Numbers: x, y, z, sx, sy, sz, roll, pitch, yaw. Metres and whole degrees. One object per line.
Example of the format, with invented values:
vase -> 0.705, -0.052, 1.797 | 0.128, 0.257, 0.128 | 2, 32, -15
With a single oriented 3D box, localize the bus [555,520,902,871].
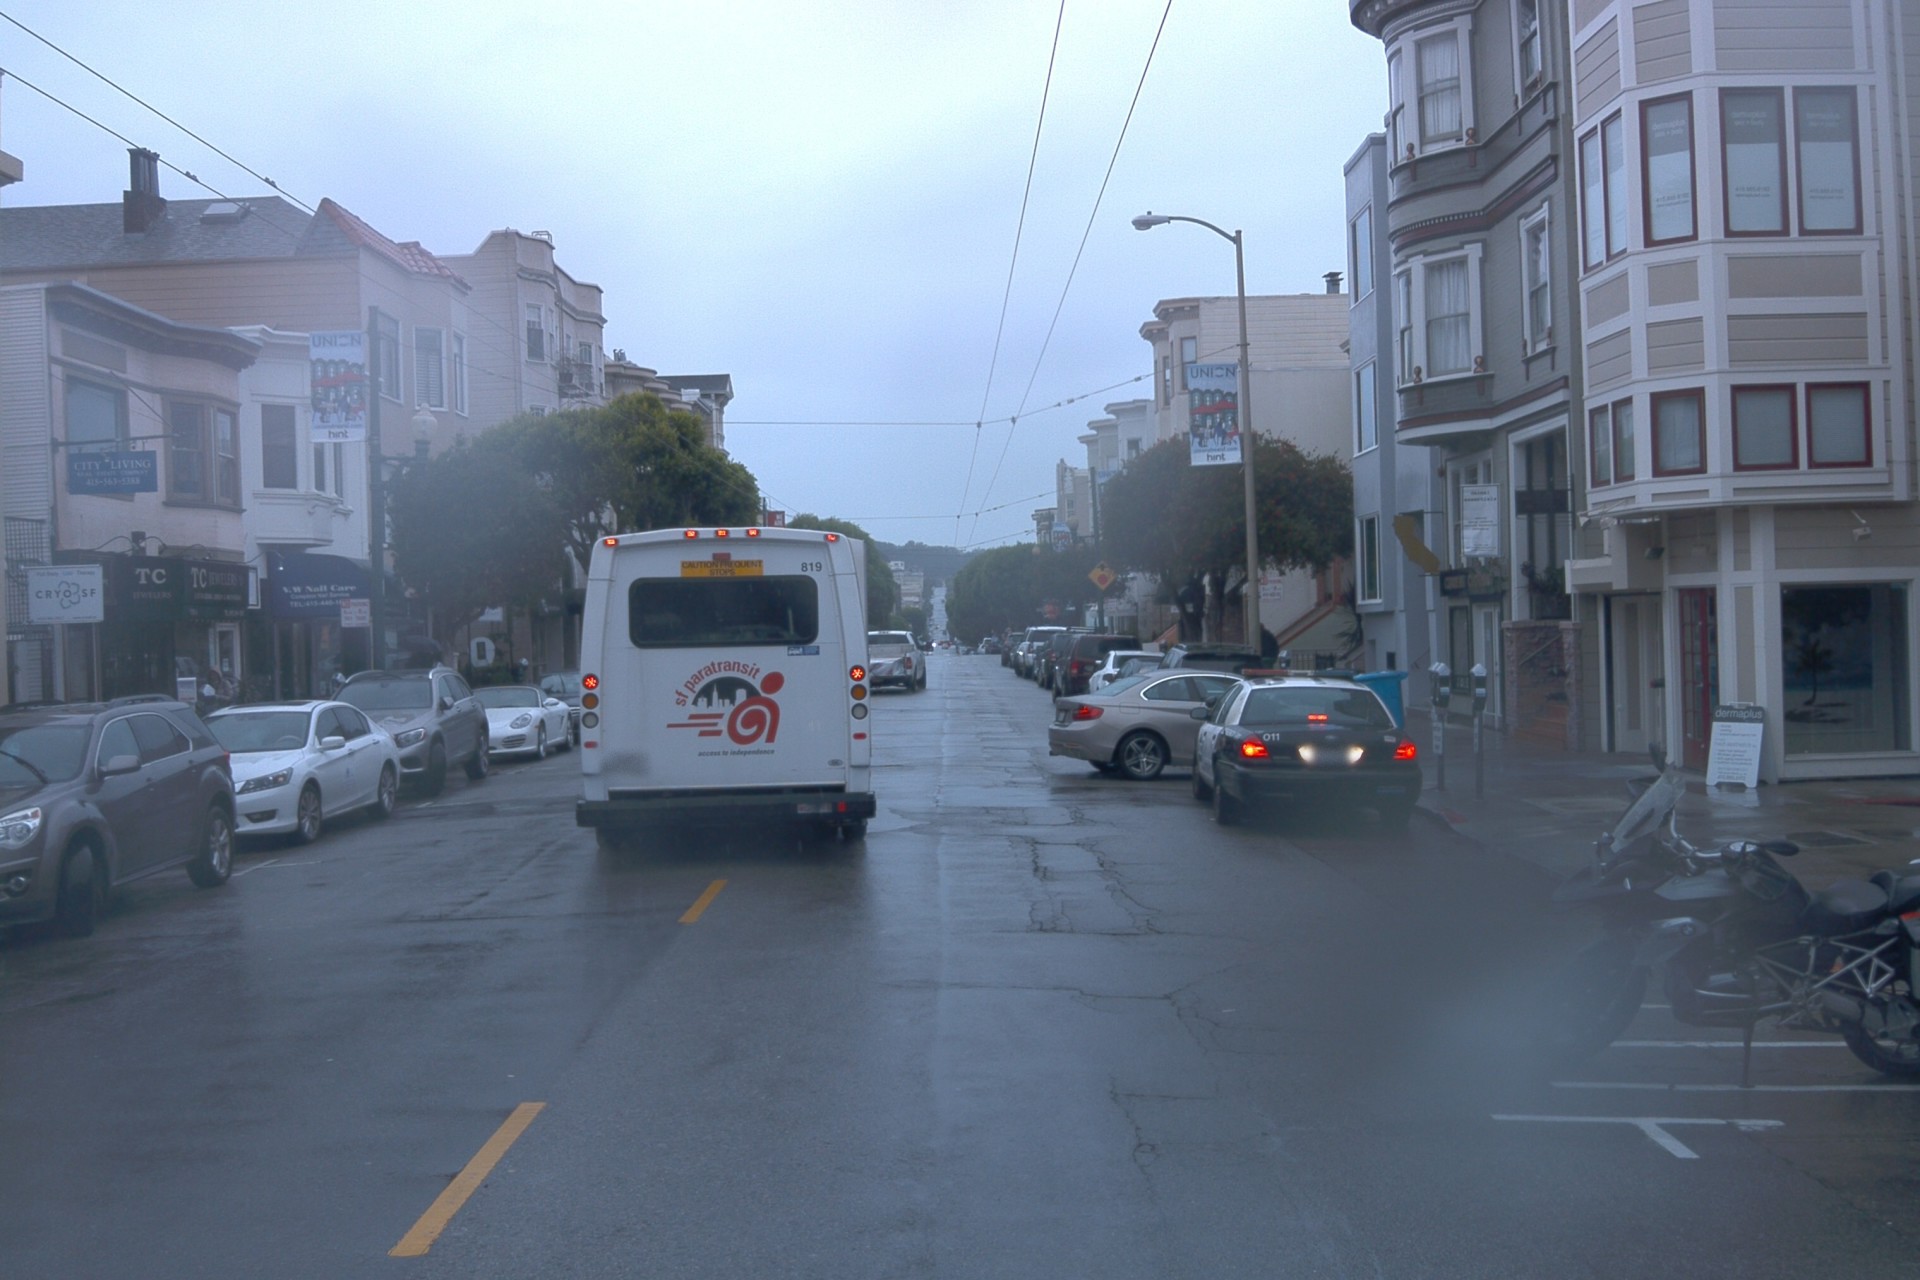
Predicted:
bus -> -2.201, 0.424, 20.156 | 2.786, 2.850, 6.709 | 1, 1, -5

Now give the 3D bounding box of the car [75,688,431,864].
car -> -7.636, 1.405, 22.894 | 2.131, 1.540, 5.132 | 1, 1, 1

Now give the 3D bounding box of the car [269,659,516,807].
car -> -7.709, 1.202, 28.545 | 2.149, 1.760, 4.917 | 1, 1, -1

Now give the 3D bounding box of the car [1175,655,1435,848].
car -> 3.518, 1.063, 22.040 | 2.108, 1.690, 5.363 | 1, 1, 3

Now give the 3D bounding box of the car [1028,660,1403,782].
car -> 3.289, 1.025, 26.875 | 4.454, 1.470, 1.878 | 0, 1, -12

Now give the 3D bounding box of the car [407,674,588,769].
car -> -7.751, 1.331, 34.992 | 2.114, 1.370, 4.598 | 1, 1, -1
